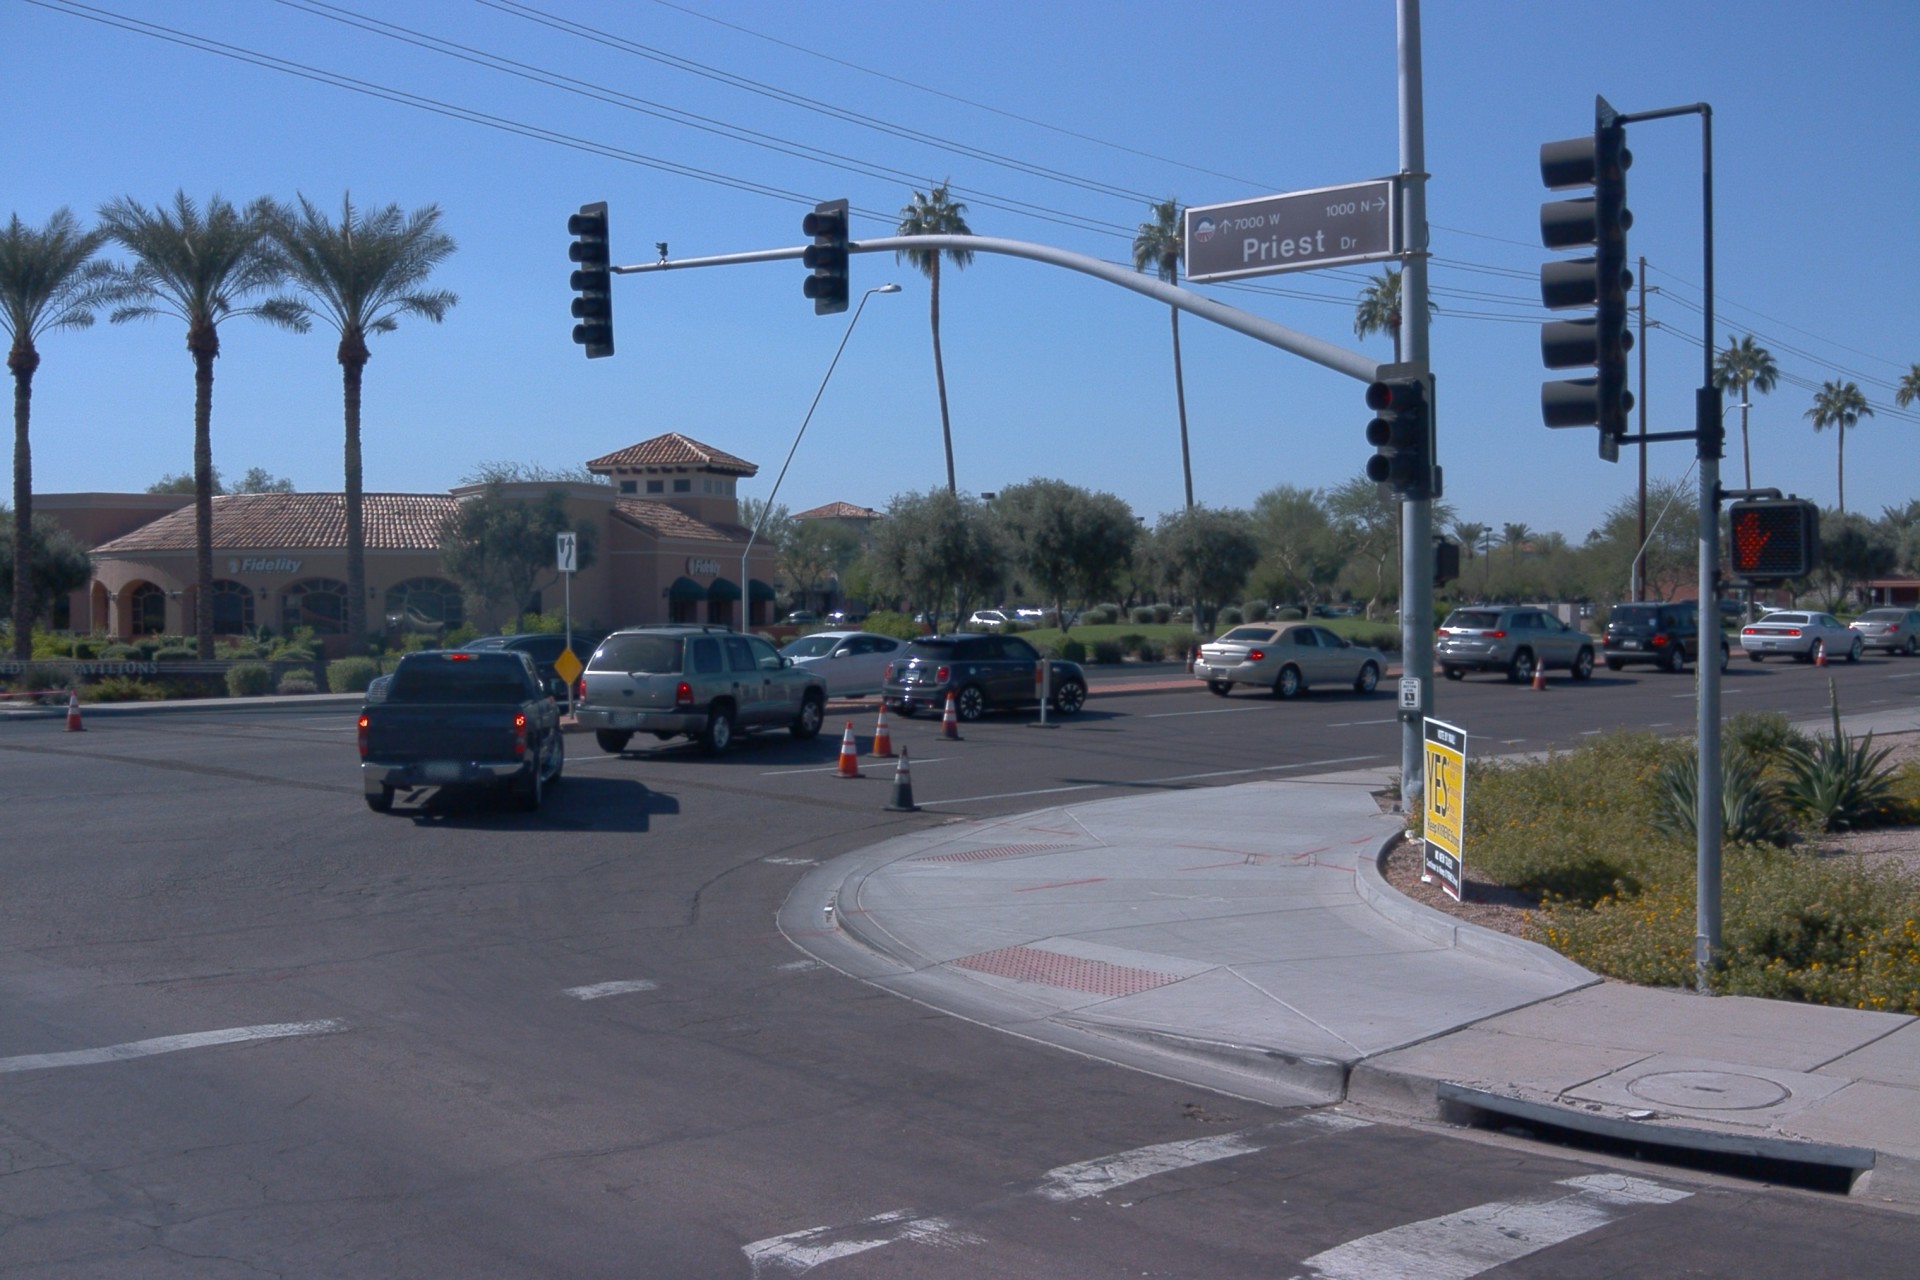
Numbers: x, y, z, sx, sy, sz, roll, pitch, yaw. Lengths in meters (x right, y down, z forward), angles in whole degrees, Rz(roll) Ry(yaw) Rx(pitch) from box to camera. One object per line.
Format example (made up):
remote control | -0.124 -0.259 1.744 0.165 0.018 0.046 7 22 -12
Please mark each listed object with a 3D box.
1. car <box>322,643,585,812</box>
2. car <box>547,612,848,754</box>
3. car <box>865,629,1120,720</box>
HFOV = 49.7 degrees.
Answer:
car | -5.385 0.862 22.722 2.148 1.630 4.951 1 0 -6
car | -3.632 0.575 29.779 2.175 1.830 4.919 1 0 22
car | 0.611 0.590 35.967 4.287 1.480 1.931 1 0 -44
